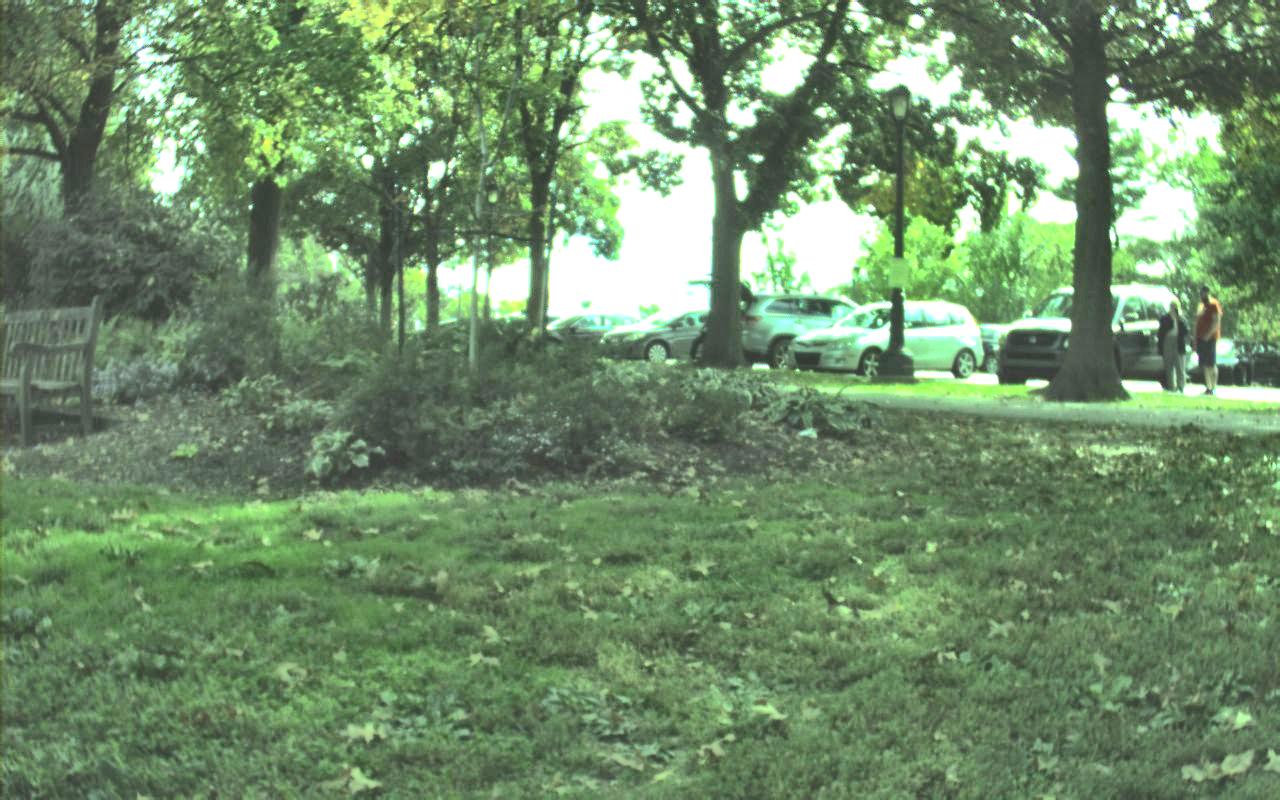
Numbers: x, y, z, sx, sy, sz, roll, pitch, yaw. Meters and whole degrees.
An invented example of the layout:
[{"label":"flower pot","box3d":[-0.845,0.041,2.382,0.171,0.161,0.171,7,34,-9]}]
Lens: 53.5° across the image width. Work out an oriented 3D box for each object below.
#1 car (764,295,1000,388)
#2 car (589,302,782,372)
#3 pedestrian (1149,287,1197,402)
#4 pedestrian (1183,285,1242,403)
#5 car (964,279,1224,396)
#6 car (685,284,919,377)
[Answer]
[{"label":"car","box3d":[4.818,-1.080,24.427,4.621,1.645,1.975,0,1,-34]},{"label":"car","box3d":[1.154,-1.504,31.400,4.415,1.605,1.948,0,1,-31]},{"label":"pedestrian","box3d":[8.555,-0.844,18.914,0.770,1.815,0.759,1,0,21]},{"label":"pedestrian","box3d":[9.330,-0.862,18.928,0.759,1.869,0.766,0,0,-33]},{"label":"car","box3d":[7.540,-0.930,19.607,4.571,1.696,2.010,0,1,-30]},{"label":"car","box3d":[3.478,-1.403,26.776,4.639,1.803,2.018,0,1,-25]}]
